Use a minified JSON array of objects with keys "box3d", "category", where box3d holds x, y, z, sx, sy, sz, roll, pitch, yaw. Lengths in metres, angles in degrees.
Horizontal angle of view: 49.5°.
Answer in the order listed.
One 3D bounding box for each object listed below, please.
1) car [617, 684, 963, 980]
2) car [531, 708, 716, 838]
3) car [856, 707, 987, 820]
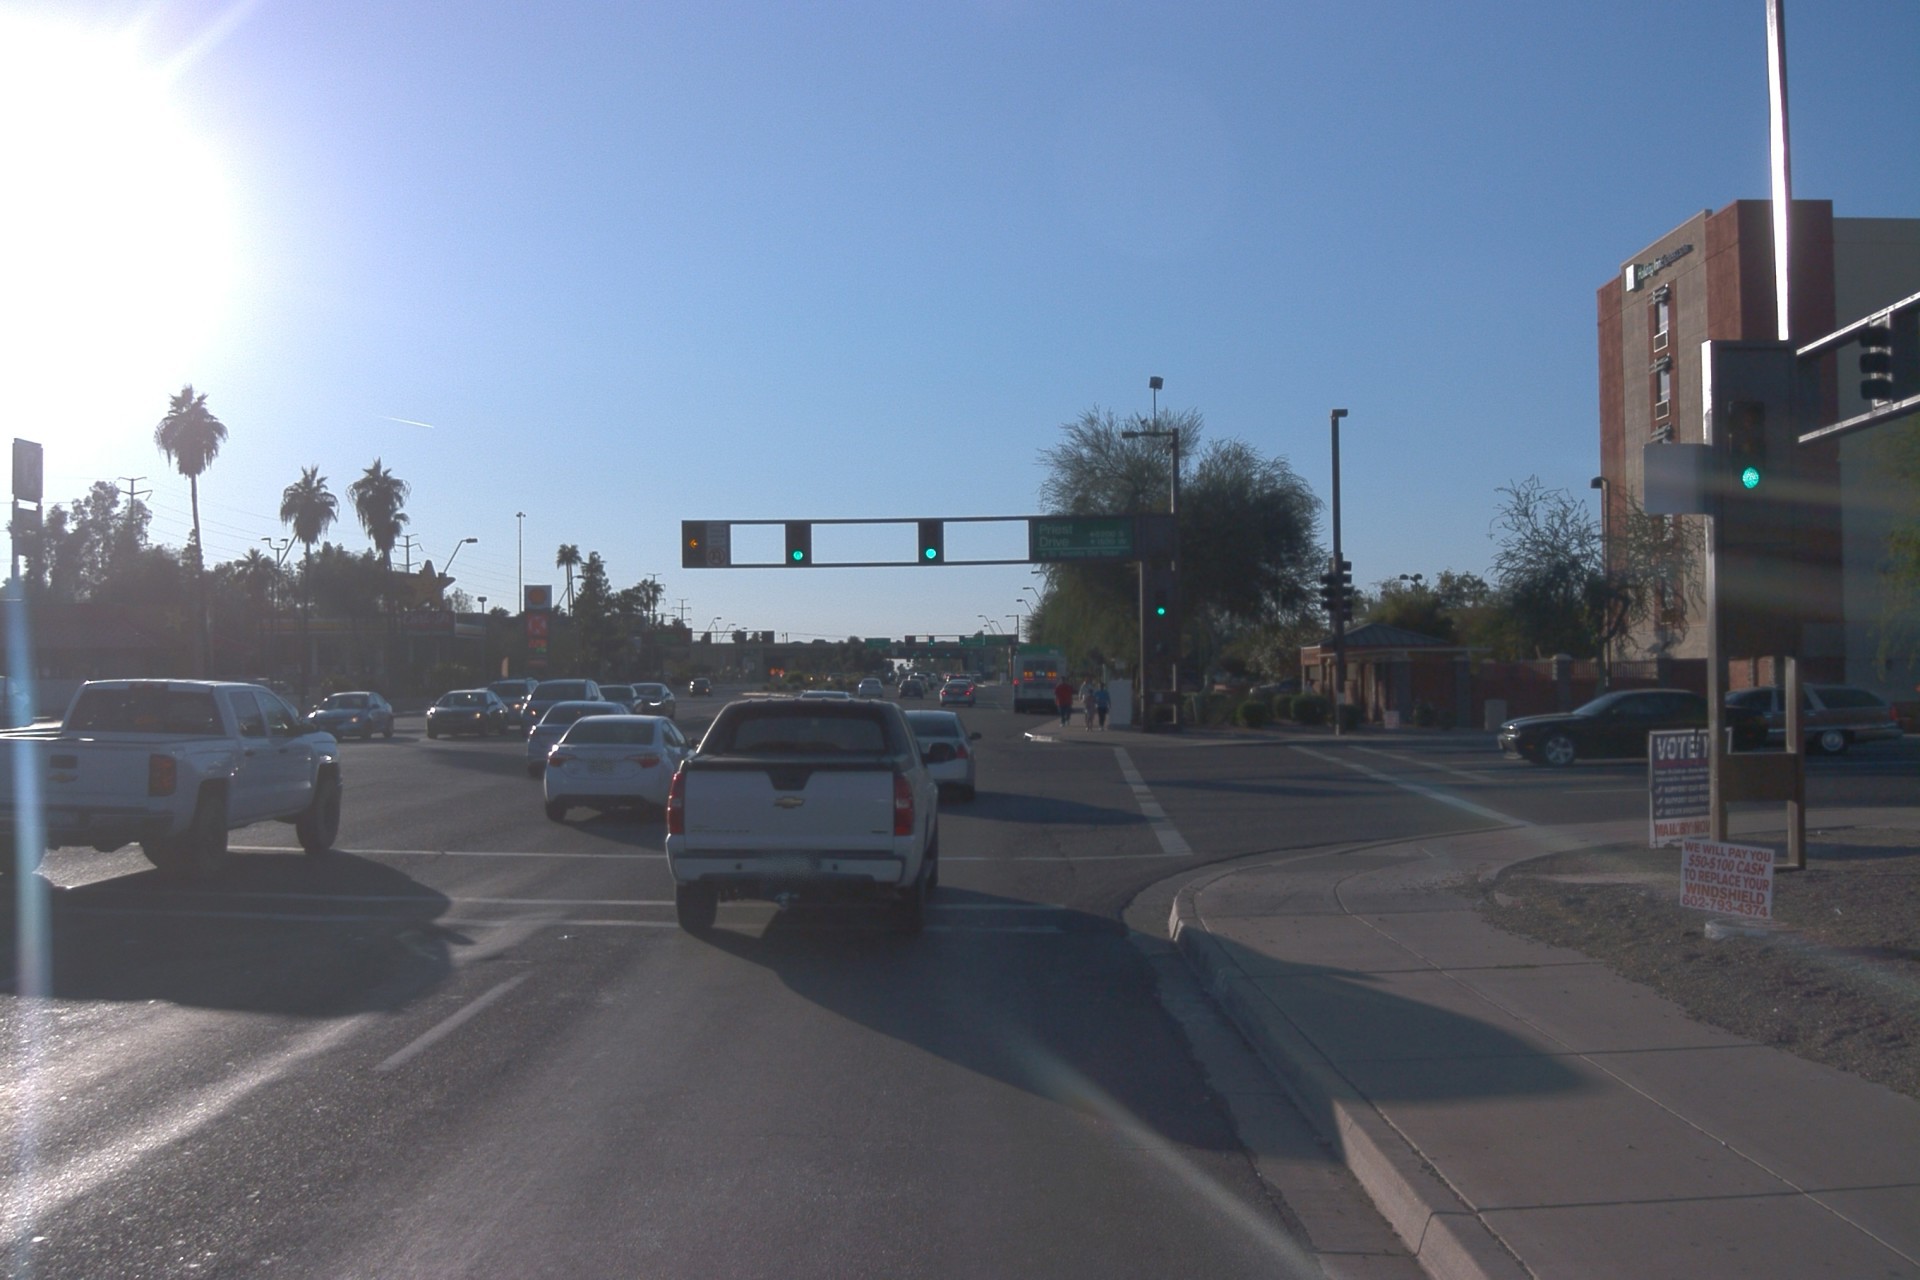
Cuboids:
[{"box3d":[-1.247,1.468,18.006,2.477,2.120,5.357,1,-1,1],"category":"car"},{"box3d":[-4.732,1.836,29.869,1.880,1.634,4.348,1,-1,1],"category":"car"},{"box3d":[-0.574,2.025,35.210,2.031,1.680,4.704,1,-1,1],"category":"car"}]
